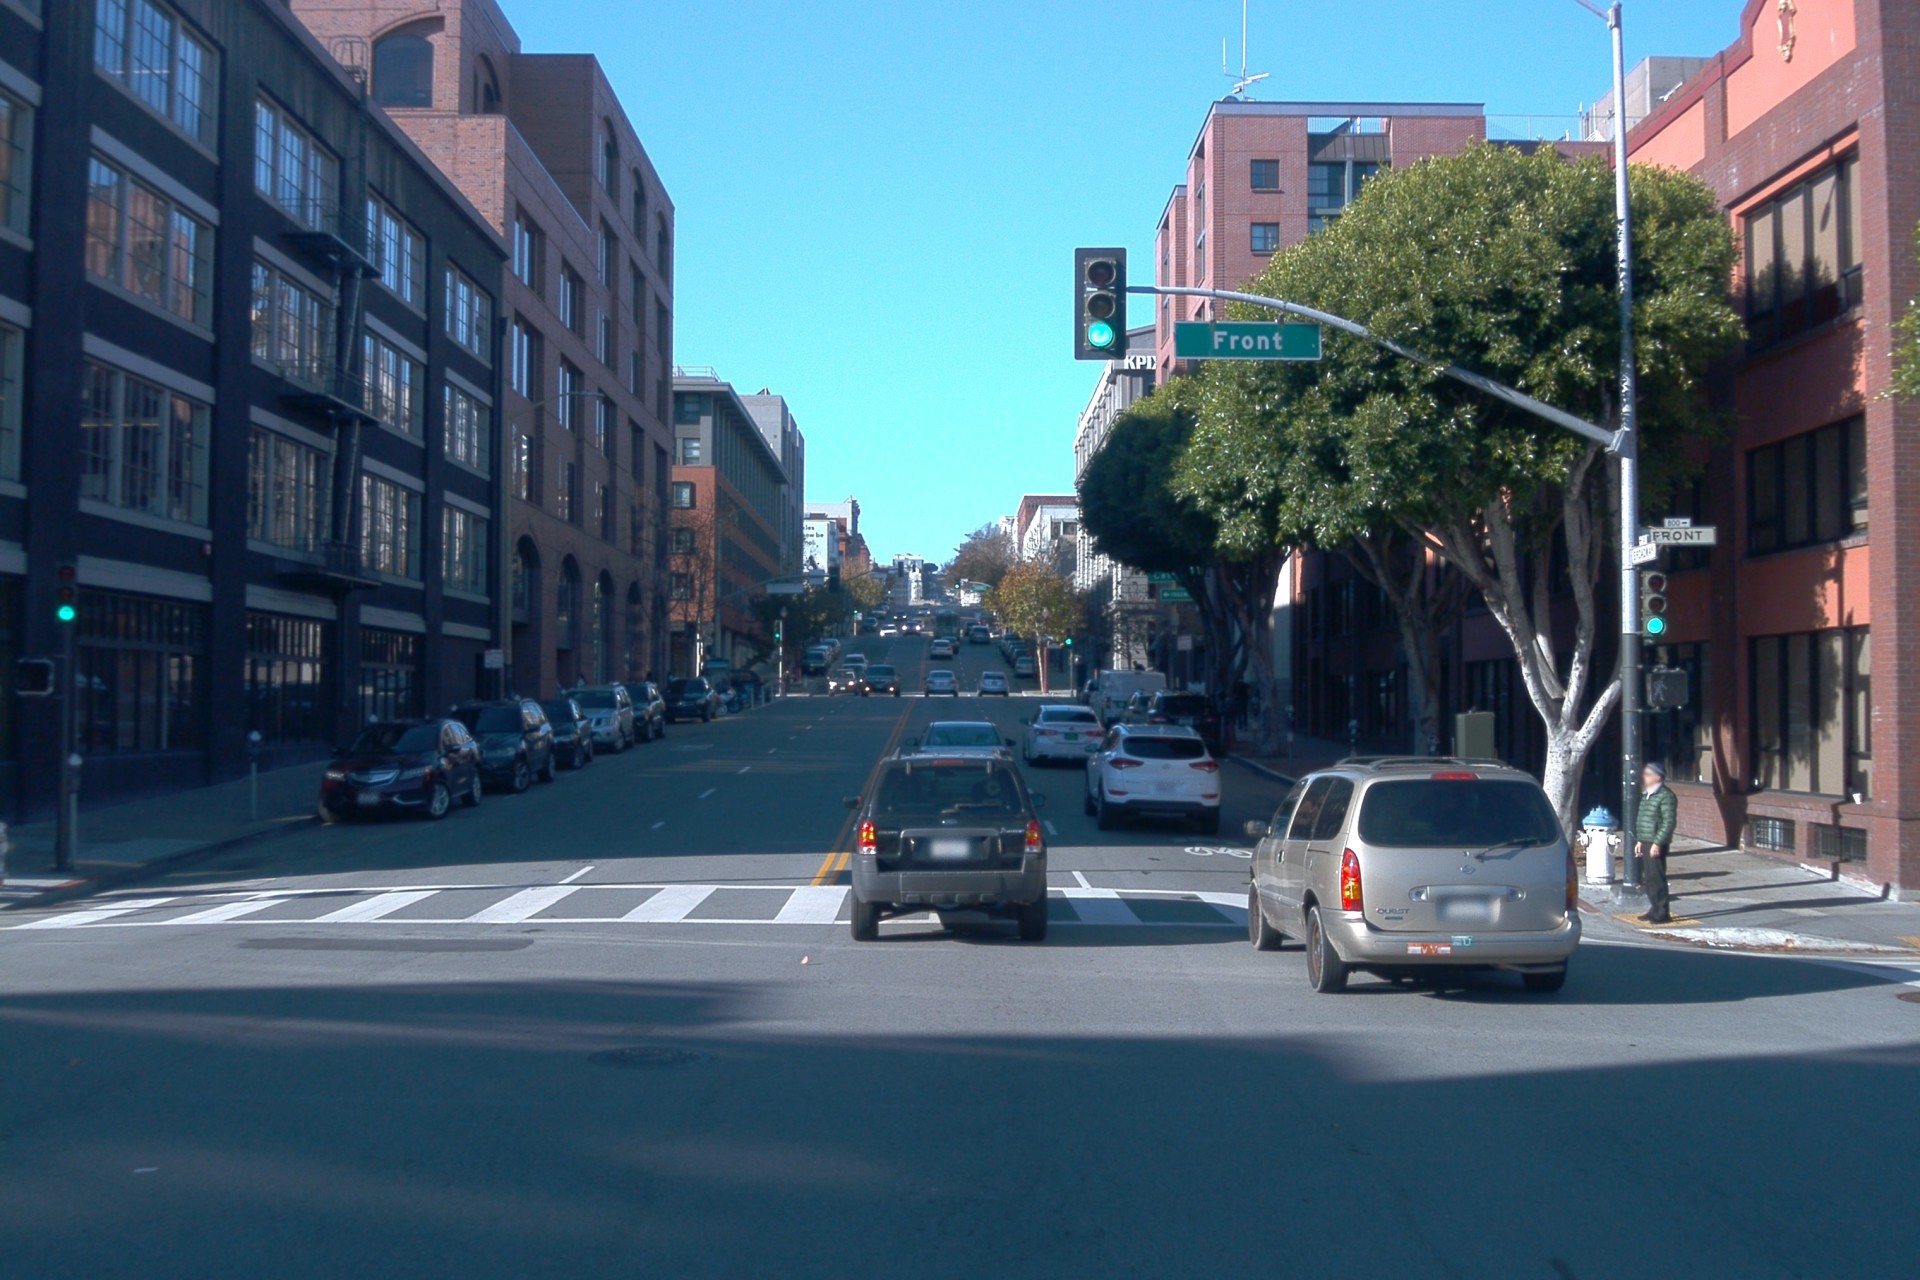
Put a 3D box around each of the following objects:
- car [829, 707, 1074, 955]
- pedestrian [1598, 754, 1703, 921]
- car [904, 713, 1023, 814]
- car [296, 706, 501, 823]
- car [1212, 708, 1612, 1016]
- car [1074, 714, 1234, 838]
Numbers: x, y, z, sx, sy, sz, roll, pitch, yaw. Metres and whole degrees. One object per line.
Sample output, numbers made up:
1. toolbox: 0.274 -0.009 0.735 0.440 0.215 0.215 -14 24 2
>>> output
1. car: -0.109 1.732 20.336 2.096 2.100 4.544 1 -2 -1
2. pedestrian: 7.702 2.182 23.218 0.740 1.790 0.842 1 -2 -20
3. car: 0.038 2.173 37.481 1.991 1.630 4.483 1 -2 -1
4. car: -9.566 2.076 35.845 2.223 1.820 4.703 1 -2 0
5. car: 3.419 1.613 16.771 2.113 2.070 4.763 1 -2 -1
6. car: 3.078 2.145 33.915 2.088 1.800 4.683 1 -2 -1
